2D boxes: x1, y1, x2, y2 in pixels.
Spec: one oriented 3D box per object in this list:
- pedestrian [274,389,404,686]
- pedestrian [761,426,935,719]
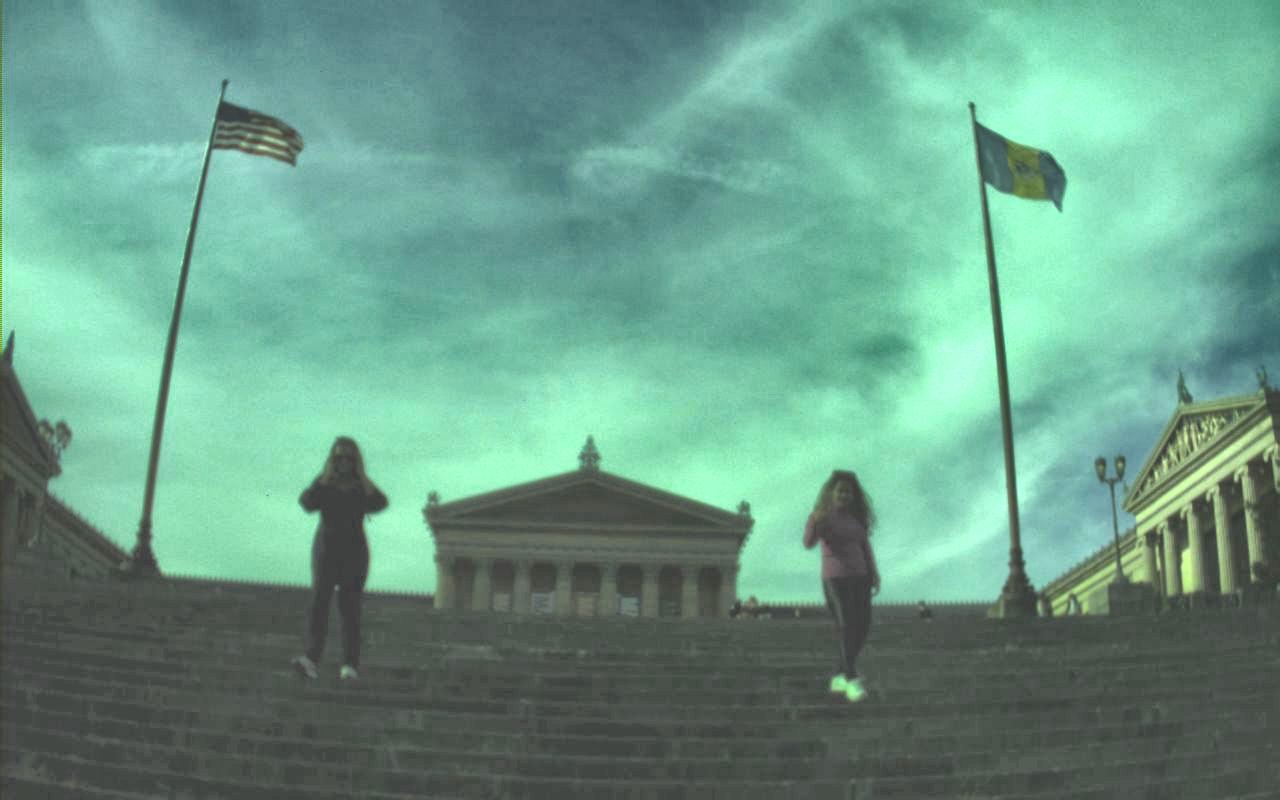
[{"bbox_3d":[-1.949,0.873,7.953,0.758,1.859,0.755,0,0,-7],"label":"pedestrian"},{"bbox_3d":[1.333,1.070,7.956,0.757,1.760,0.774,0,0,-37],"label":"pedestrian"}]
